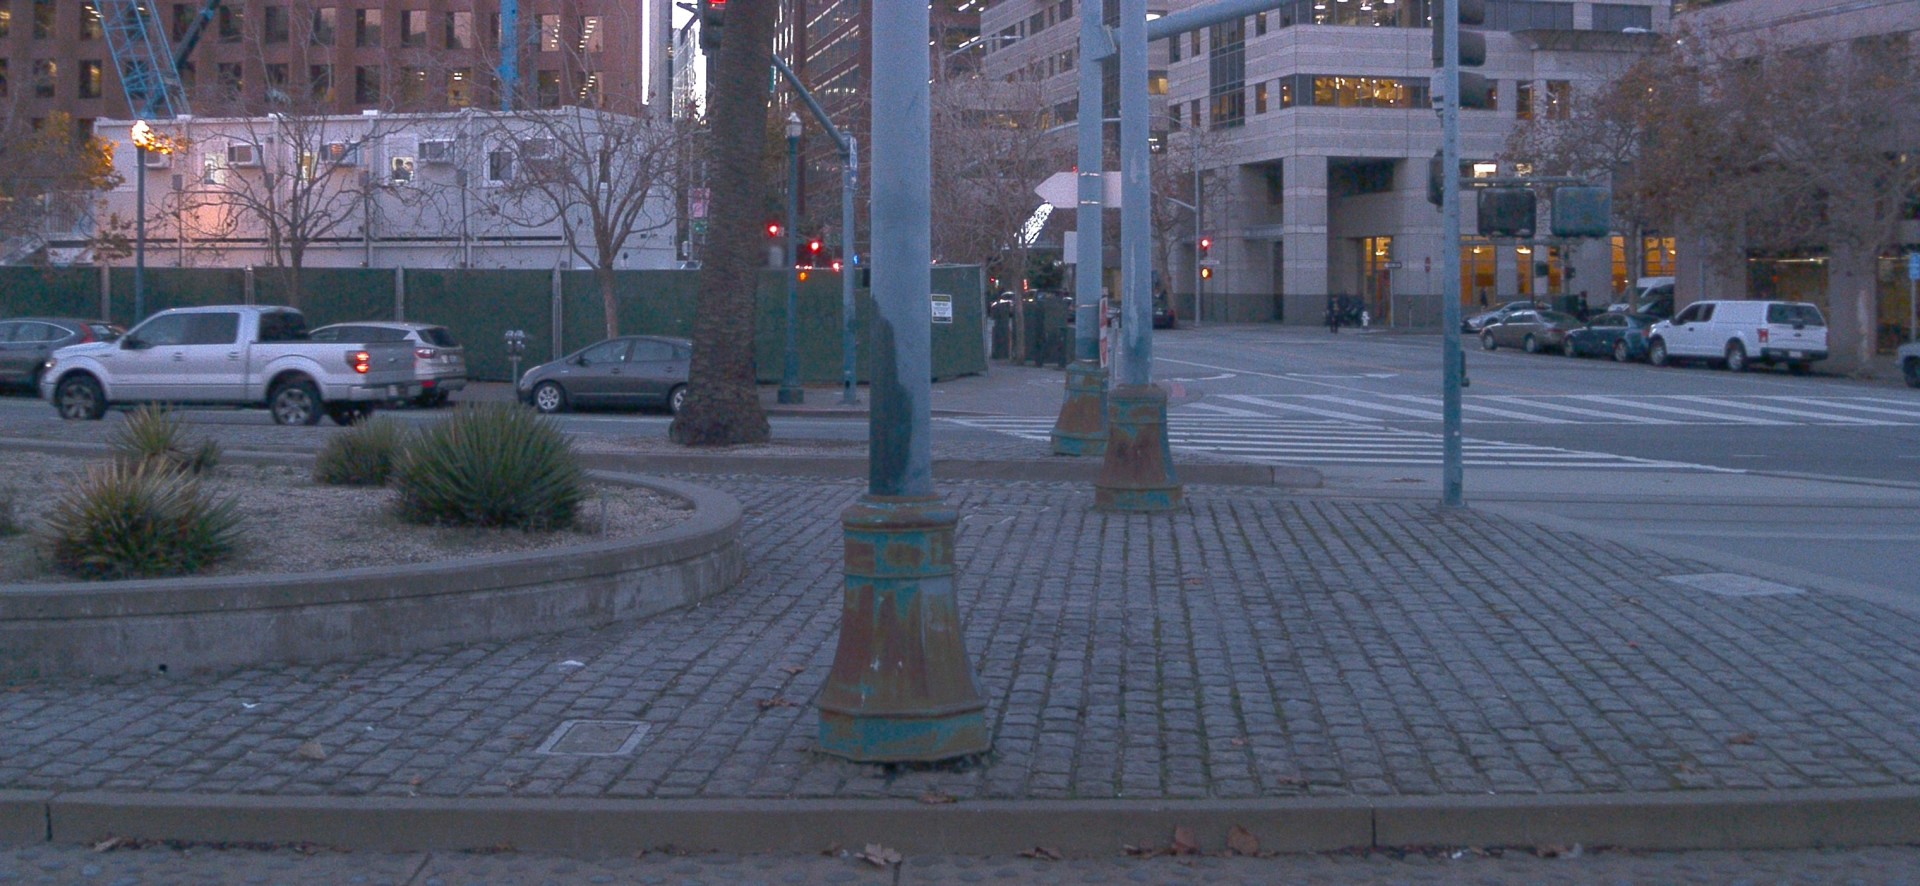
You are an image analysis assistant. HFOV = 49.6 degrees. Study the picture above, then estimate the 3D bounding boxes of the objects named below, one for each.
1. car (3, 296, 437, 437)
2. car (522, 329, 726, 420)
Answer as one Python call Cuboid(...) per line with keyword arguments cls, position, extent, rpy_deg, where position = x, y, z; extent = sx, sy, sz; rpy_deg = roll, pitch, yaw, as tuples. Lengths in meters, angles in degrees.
Cuboid(cls="car", position=(-11.532, -1.255, 32.523), extent=(5.985, 1.904, 2.524), rpy_deg=(2, 4, 12))
Cuboid(cls="car", position=(-6.208, -1.293, 38.464), extent=(3.390, 1.486, 1.558), rpy_deg=(2, 4, 17))
